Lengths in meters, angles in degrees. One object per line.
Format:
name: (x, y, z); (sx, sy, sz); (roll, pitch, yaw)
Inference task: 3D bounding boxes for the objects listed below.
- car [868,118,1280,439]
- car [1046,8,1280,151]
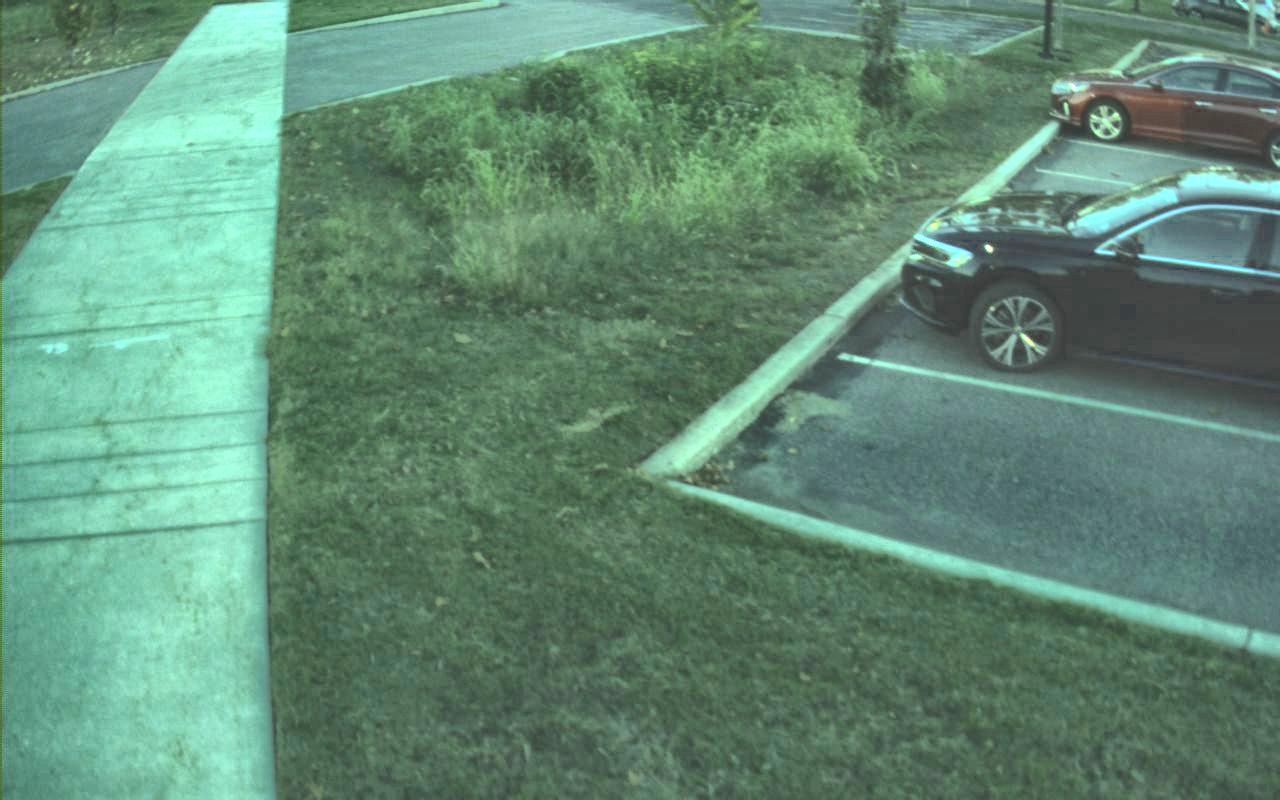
car: (3.947, -0.964, 8.035); (4.476, 1.570, 1.955); (7, 18, 26)
car: (8.445, -4.753, 16.709); (4.836, 1.657, 2.043); (8, 18, 28)
